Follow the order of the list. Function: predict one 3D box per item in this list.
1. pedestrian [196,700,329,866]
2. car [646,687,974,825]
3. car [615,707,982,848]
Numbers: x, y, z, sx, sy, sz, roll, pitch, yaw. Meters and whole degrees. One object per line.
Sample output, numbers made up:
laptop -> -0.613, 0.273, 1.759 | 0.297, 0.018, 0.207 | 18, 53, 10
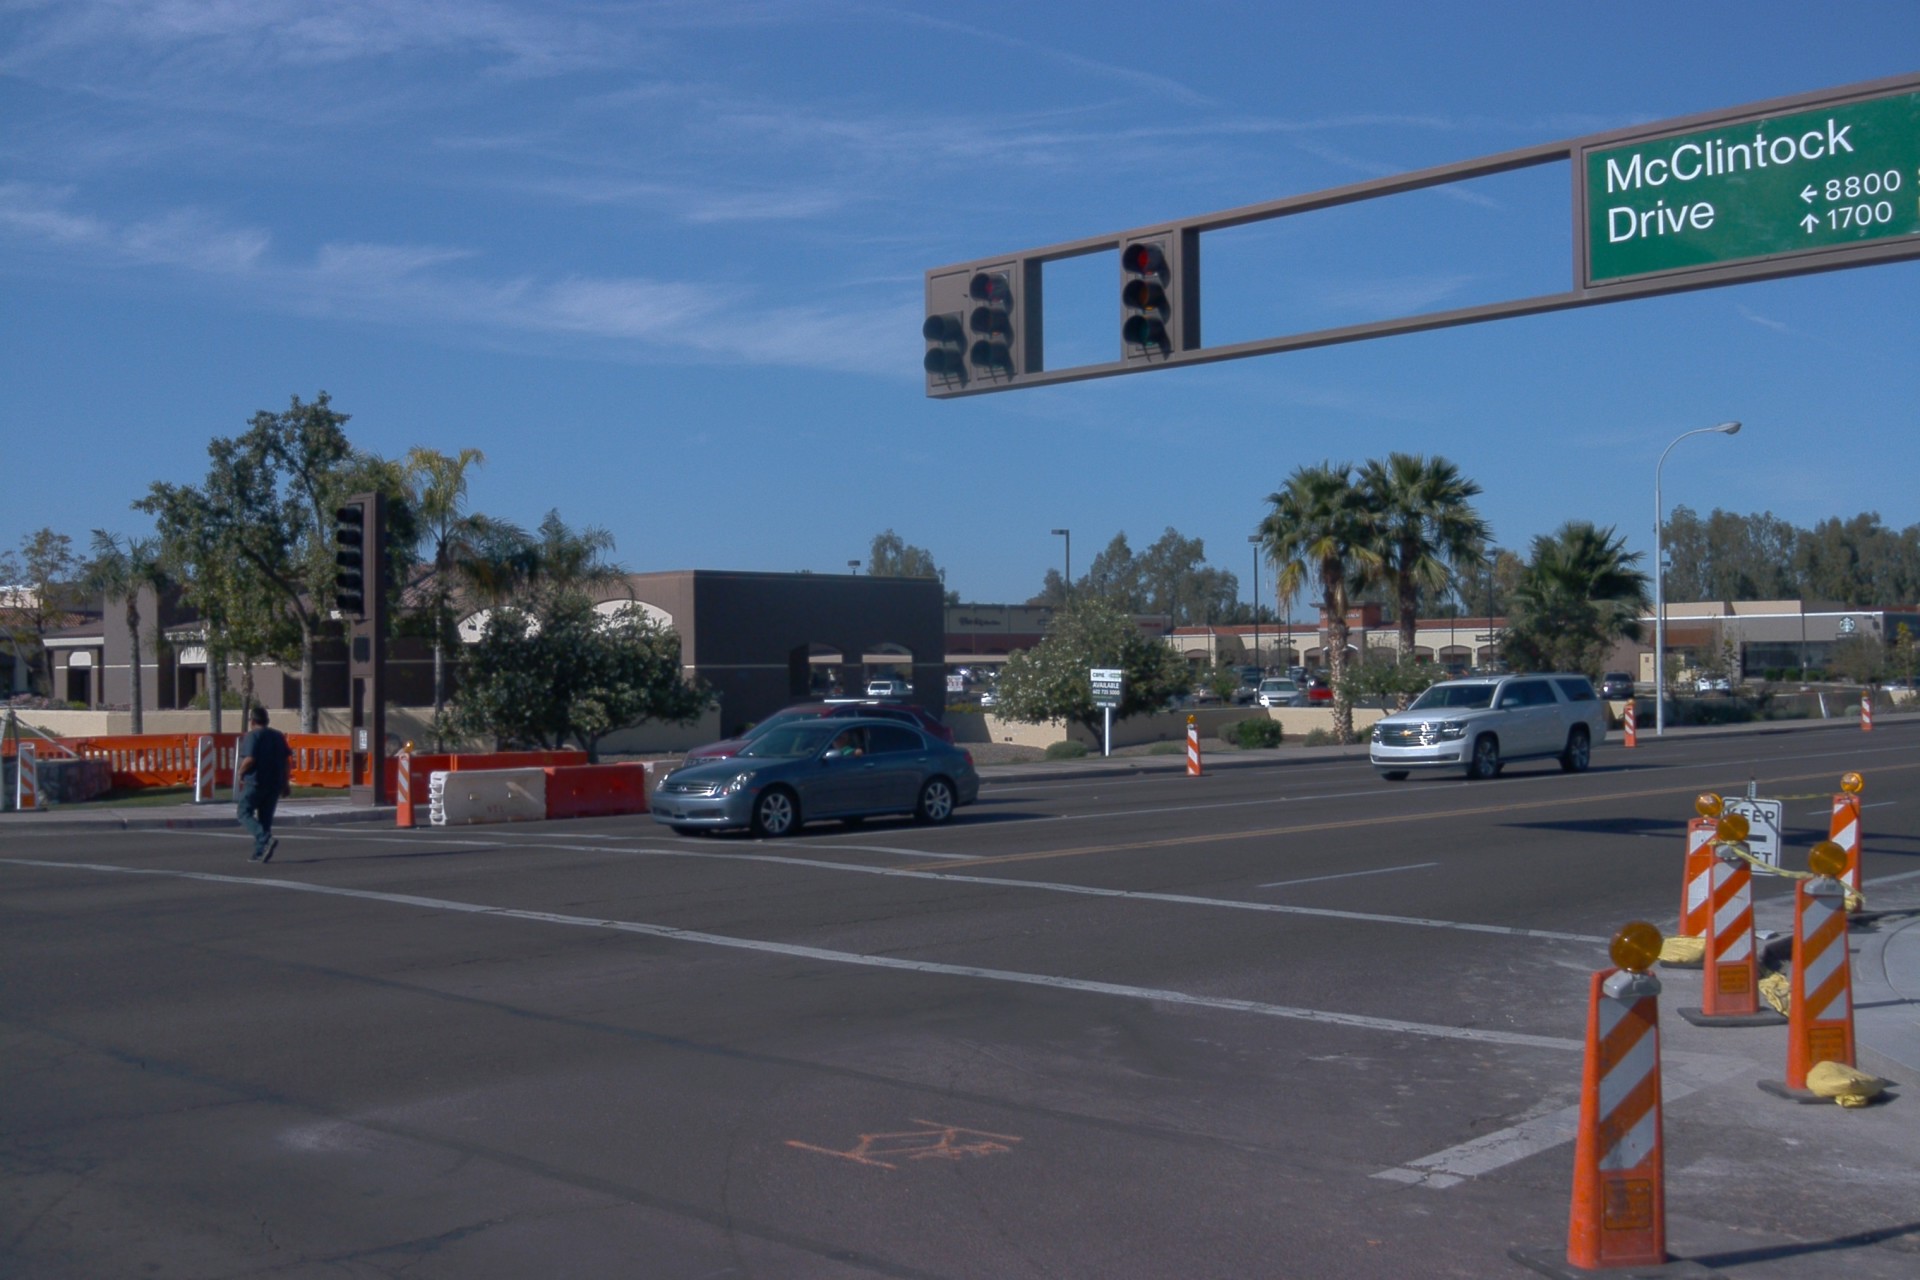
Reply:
pedestrian -> -7.725, 1.556, 23.053 | 0.986, 1.760, 1.020 | 0, 0, 37
car -> -2.249, 1.712, 32.150 | 4.756, 1.910, 2.126 | 0, -1, -42
car -> -2.022, 1.719, 27.258 | 2.010, 1.570, 4.699 | -1, -1, 42
